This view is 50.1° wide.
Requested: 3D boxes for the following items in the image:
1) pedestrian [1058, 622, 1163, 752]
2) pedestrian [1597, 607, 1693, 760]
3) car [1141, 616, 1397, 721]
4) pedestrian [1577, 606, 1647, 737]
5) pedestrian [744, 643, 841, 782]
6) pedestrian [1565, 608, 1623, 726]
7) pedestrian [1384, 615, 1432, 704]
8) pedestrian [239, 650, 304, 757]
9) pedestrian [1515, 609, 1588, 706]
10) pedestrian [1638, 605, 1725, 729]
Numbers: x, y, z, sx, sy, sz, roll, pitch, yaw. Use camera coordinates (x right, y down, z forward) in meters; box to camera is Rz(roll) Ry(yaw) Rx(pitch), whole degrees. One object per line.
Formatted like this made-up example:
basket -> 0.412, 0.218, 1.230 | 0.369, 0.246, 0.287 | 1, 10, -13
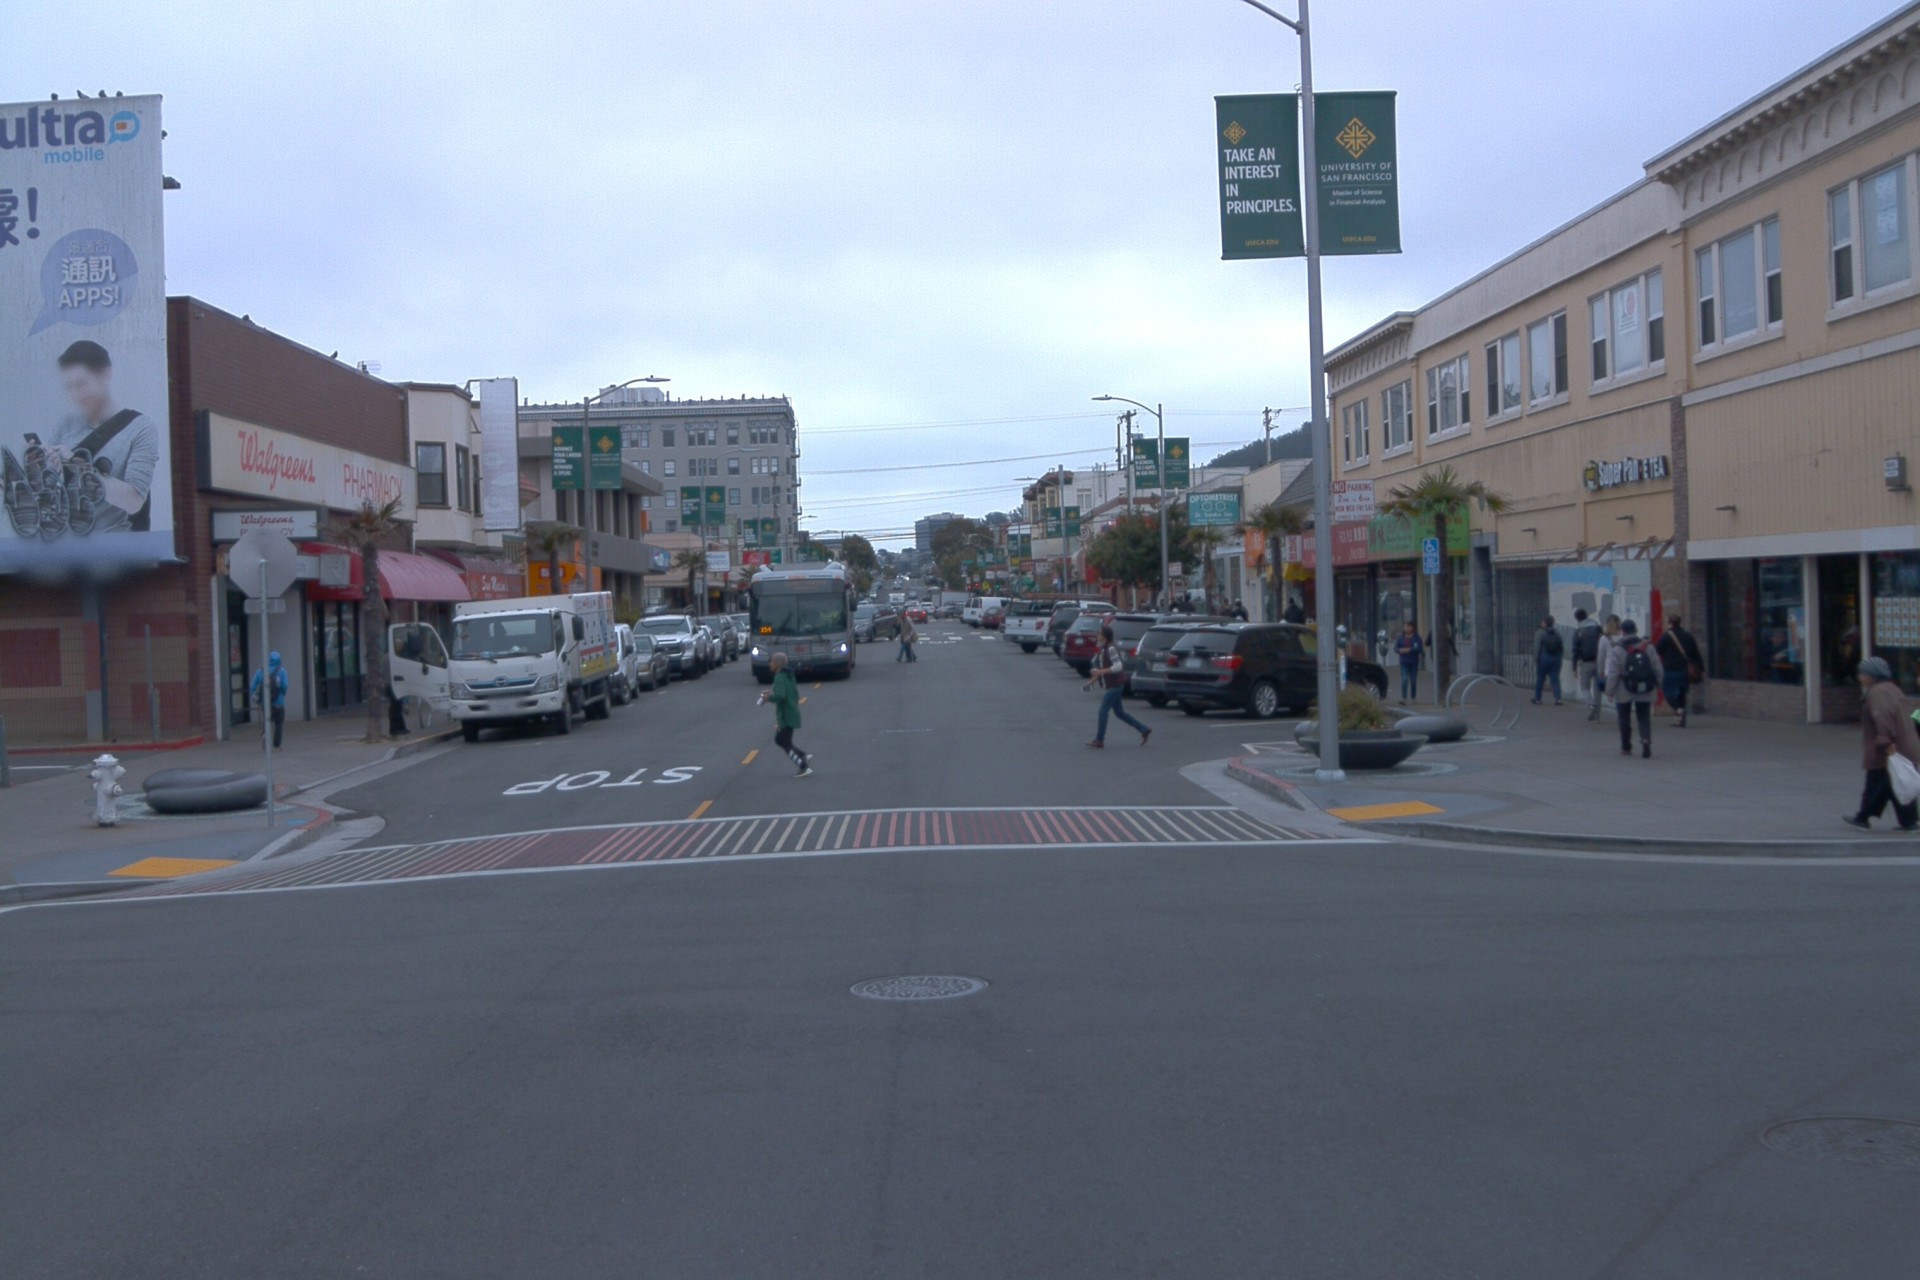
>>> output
pedestrian -> 2.170, 0.664, 29.657 | 1.259, 1.820, 0.886 | -1, 1, -17
pedestrian -> 8.115, 0.499, 24.392 | 0.925, 1.770, 0.948 | 0, 1, 9
car -> 5.588, 0.461, 36.915 | 4.510, 1.740, 2.044 | -1, 1, -39
pedestrian -> 9.228, 0.438, 29.130 | 0.711, 1.824, 0.916 | 0, 1, 2
pedestrian -> -2.097, 0.900, 25.836 | 1.103, 1.713, 0.767 | 0, 1, 3
pedestrian -> 9.517, 0.394, 30.884 | 0.689, 1.751, 0.813 | 0, 1, 6
pedestrian -> 8.159, 0.347, 37.466 | 0.750, 1.598, 0.775 | 0, 1, 21
pedestrian -> -11.200, 1.023, 33.477 | 0.819, 1.710, 0.783 | 0, 1, -3
pedestrian -> 10.251, 0.290, 35.690 | 1.000, 1.650, 1.000 | 0, 1, 2
pedestrian -> 10.234, 0.375, 29.192 | 0.952, 1.742, 0.808 | 0, 1, 2
